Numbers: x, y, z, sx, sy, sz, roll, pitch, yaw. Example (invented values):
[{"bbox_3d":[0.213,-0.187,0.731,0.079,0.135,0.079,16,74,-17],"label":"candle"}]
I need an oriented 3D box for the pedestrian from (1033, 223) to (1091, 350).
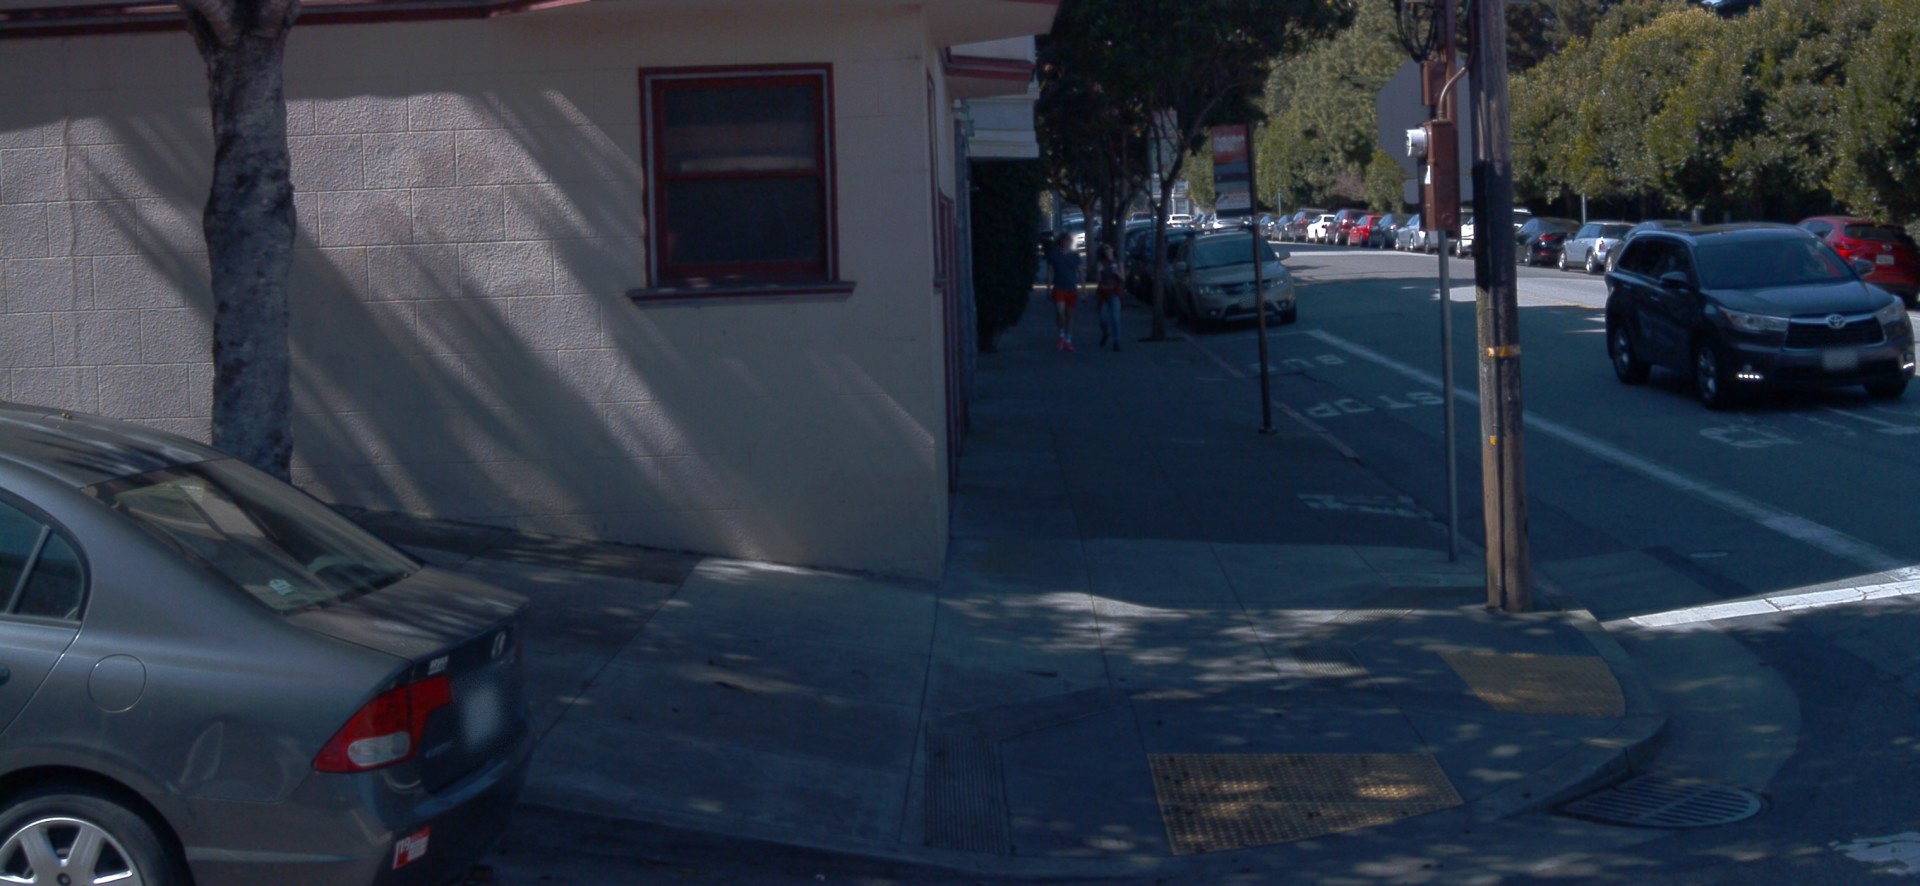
[{"bbox_3d":[1.577,-2.436,31.825,0.805,1.925,0.886,0,2,-4],"label":"pedestrian"}]

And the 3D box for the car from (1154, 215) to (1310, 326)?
[{"bbox_3d":[4.955,-3.267,38.156,2.225,1.869,5.045,0,6,0],"label":"car"}]

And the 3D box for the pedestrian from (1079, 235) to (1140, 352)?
[{"bbox_3d":[2.317,-2.335,31.933,0.863,1.775,0.994,0,3,0],"label":"pedestrian"}]
